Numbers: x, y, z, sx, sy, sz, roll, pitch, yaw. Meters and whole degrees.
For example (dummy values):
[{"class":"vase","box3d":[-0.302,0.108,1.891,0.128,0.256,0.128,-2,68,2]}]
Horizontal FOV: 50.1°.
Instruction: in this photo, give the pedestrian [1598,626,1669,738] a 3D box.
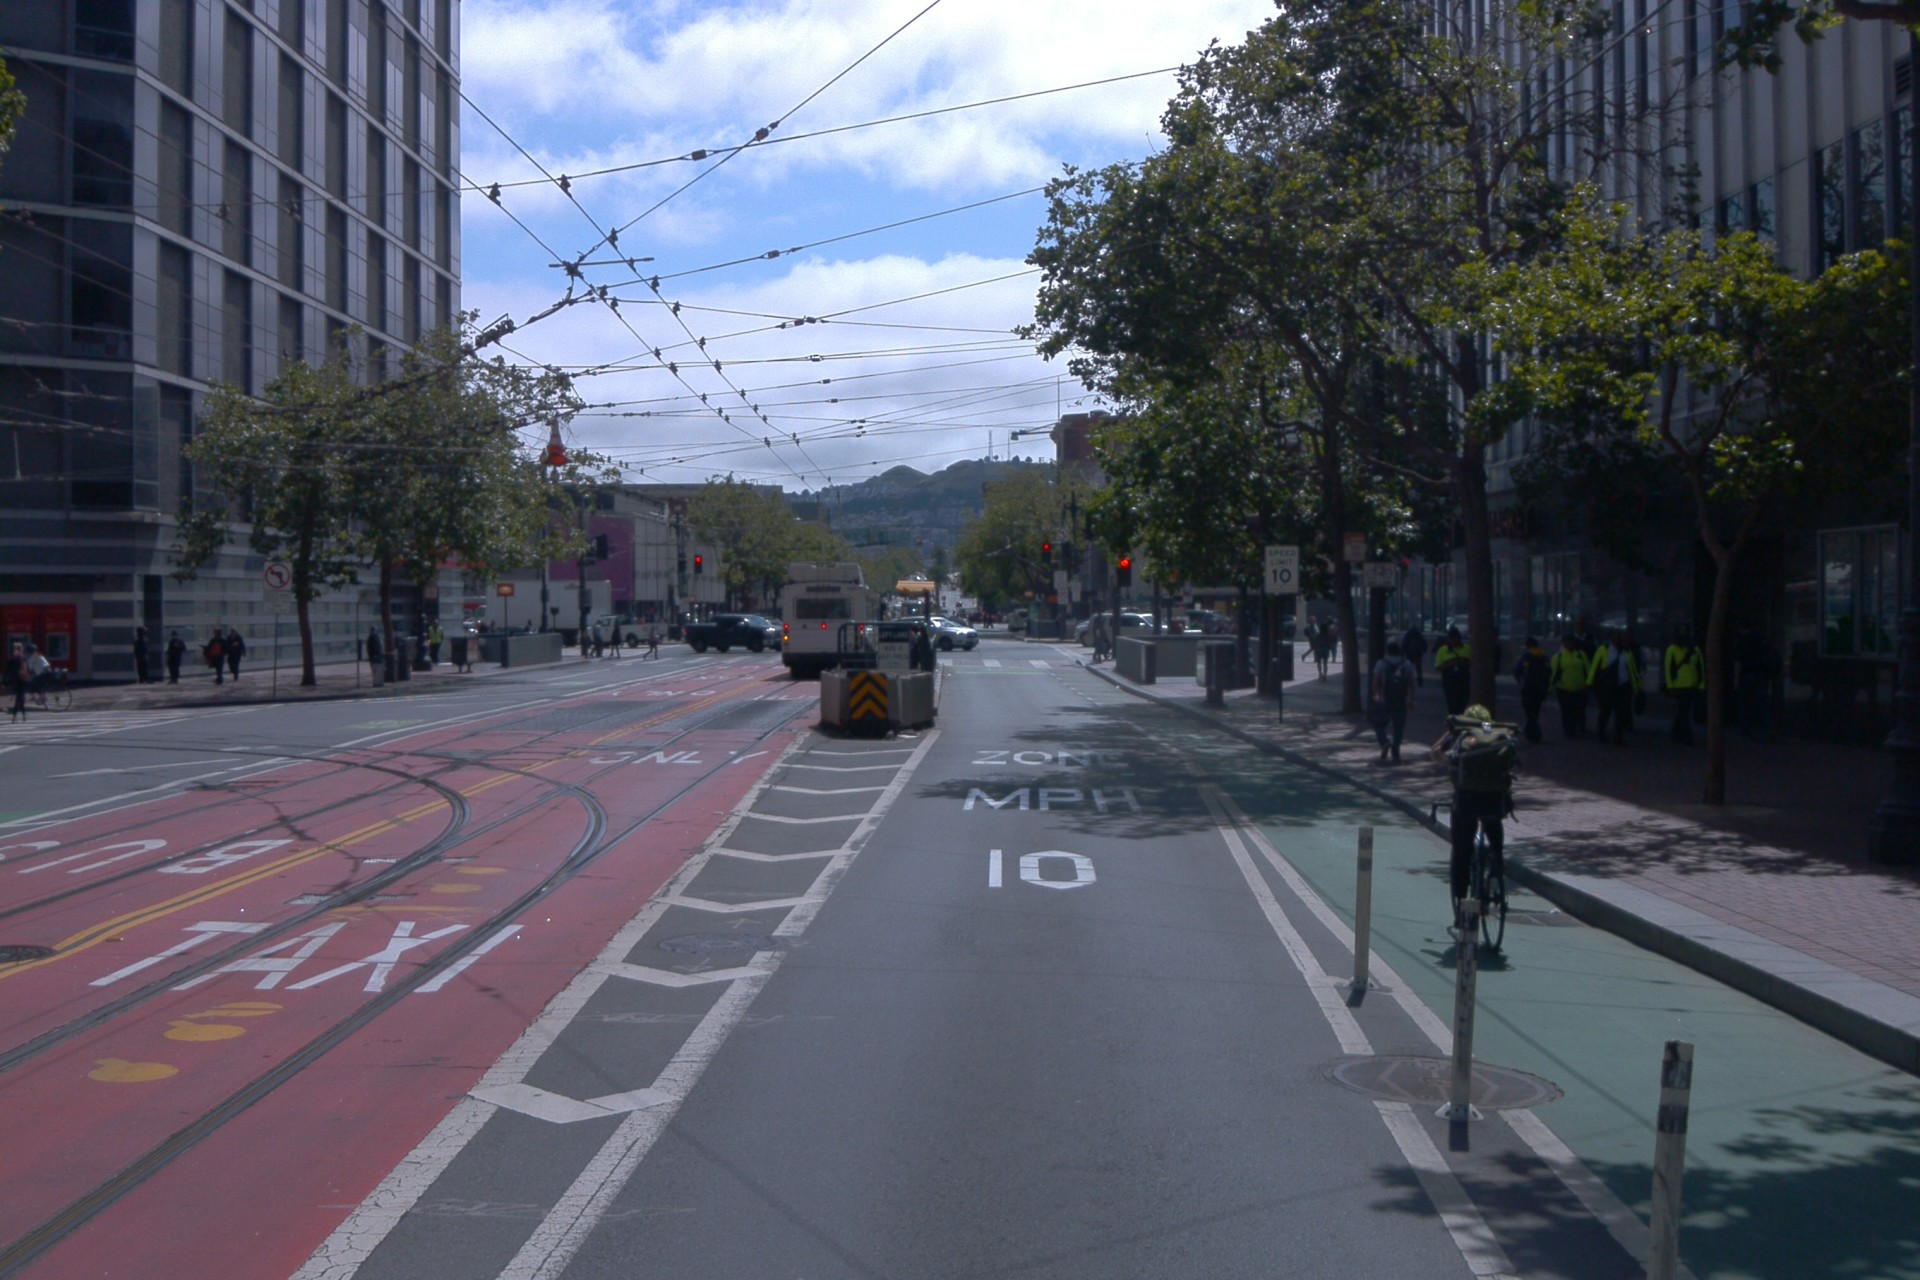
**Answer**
[{"class":"pedestrian","box3d":[10.854,0.661,33.155,0.844,1.760,1.073,0,1,3]}]

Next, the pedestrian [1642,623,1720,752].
[{"class":"pedestrian","box3d":[10.505,0.679,29.974,0.771,1.850,1.014,0,1,0]}]

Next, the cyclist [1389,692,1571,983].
[{"class":"cyclist","box3d":[3.473,1.275,13.894,0.807,1.770,1.801,0,1,1]}]

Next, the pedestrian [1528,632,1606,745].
[{"class":"pedestrian","box3d":[9.470,0.746,32.111,0.895,1.730,1.149,0,1,1]}]

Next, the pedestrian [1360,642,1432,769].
[{"class":"pedestrian","box3d":[5.935,0.879,28.006,0.811,1.680,0.942,0,1,2]}]

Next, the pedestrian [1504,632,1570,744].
[{"class":"pedestrian","box3d":[8.754,0.721,31.194,0.710,1.660,1.023,0,1,0]}]

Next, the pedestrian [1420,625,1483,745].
[{"class":"pedestrian","box3d":[7.667,0.684,32.092,0.916,1.840,1.100,0,1,11]}]

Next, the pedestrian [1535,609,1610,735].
[{"class":"pedestrian","box3d":[9.887,0.508,33.233,0.861,2.000,1.081,0,1,-1]}]

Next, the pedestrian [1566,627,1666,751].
[{"class":"pedestrian","box3d":[9.657,0.703,30.311,1.091,1.790,1.169,0,1,1]}]

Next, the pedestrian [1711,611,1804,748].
[{"class":"pedestrian","box3d":[11.736,0.566,30.290,0.866,1.980,1.228,0,1,-2]}]
